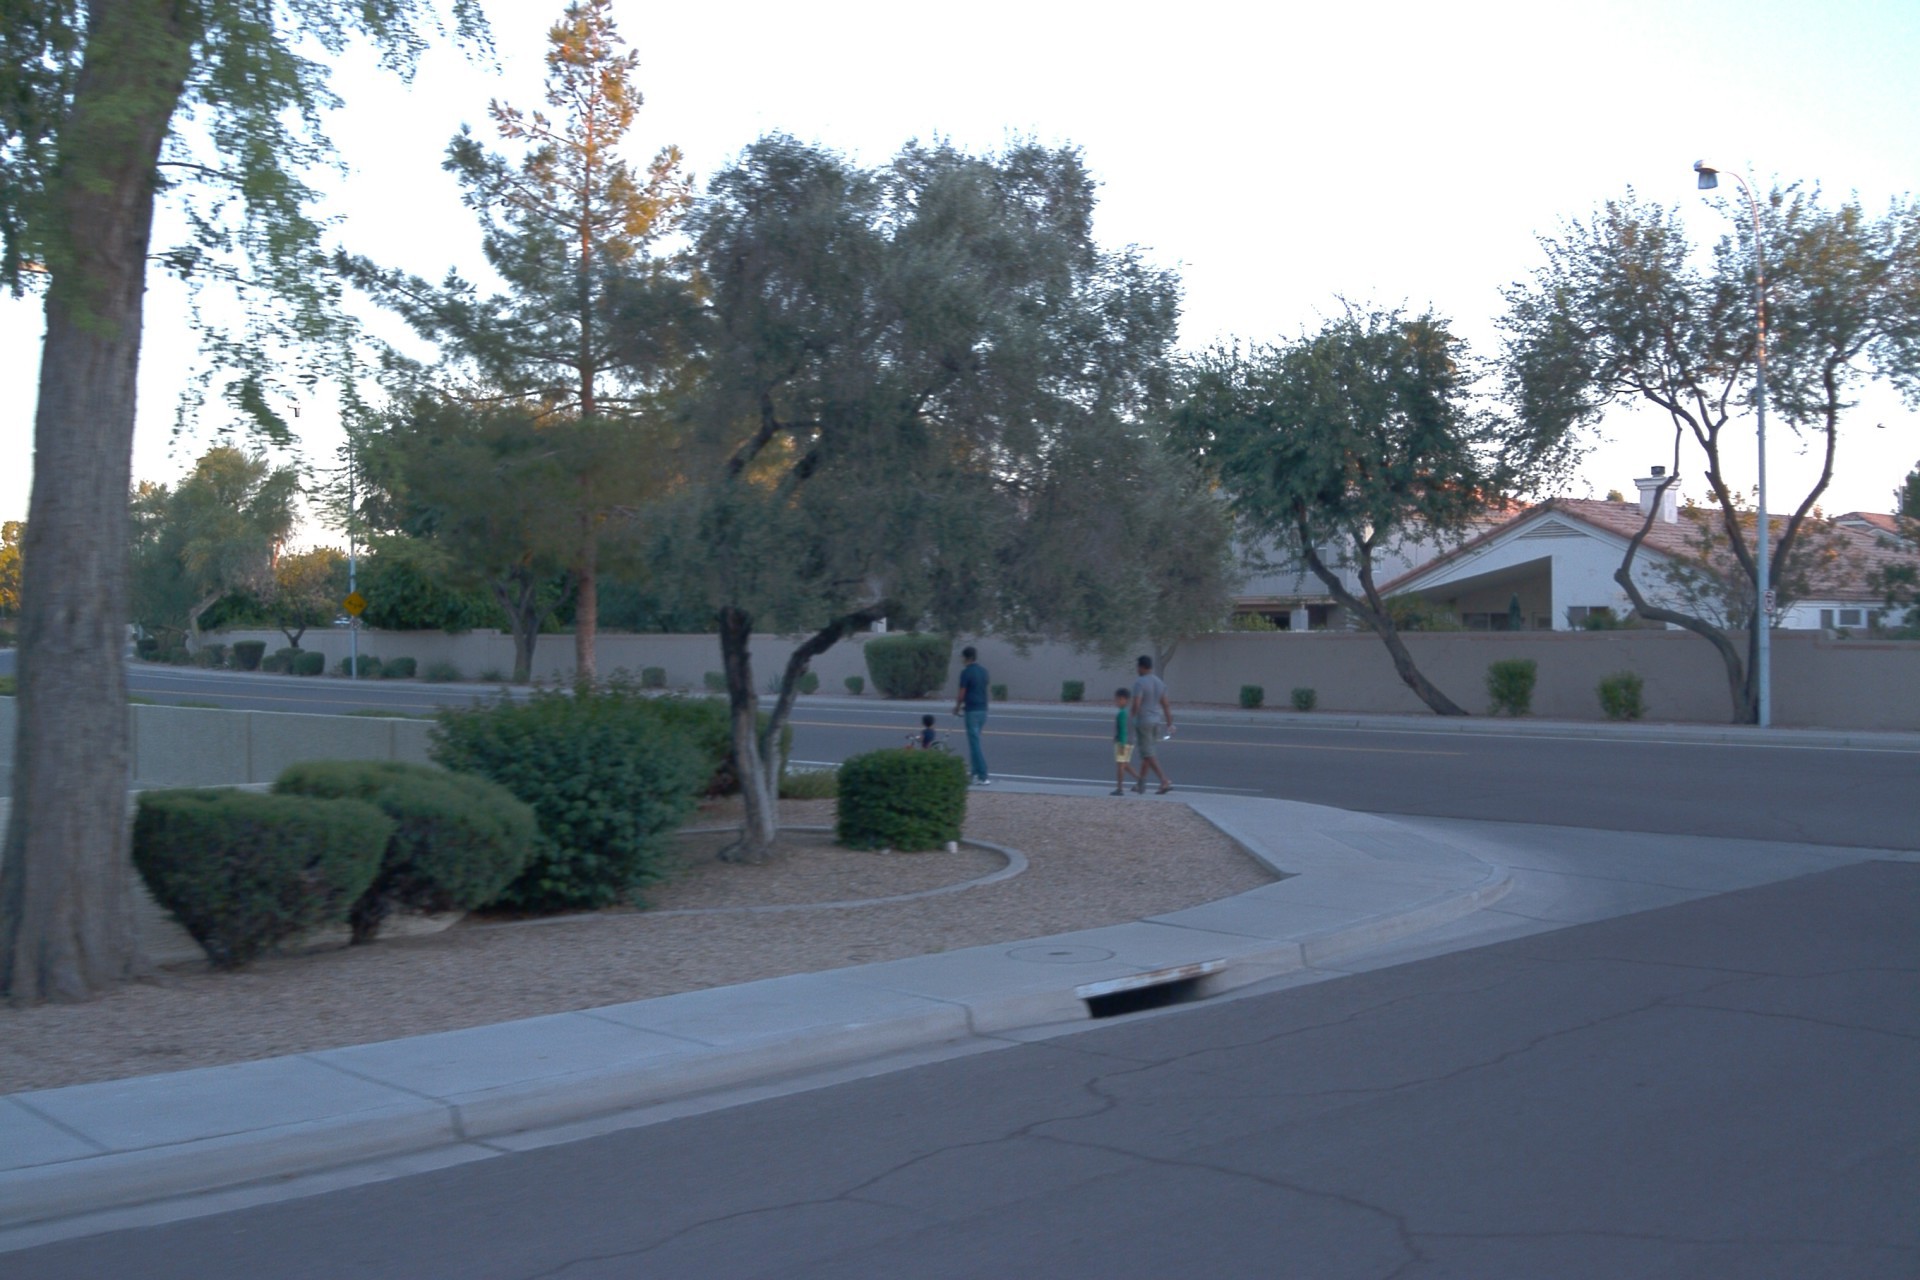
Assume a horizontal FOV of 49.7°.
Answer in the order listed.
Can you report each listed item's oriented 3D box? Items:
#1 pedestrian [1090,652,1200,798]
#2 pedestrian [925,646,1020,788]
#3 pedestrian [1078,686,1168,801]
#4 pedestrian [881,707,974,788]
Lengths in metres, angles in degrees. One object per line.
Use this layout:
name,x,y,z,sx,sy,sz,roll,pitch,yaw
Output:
pedestrian,2.237,1.001,25.029,0.910,1.690,0.944,0,1,-44
pedestrian,0.159,0.980,26.808,0.923,1.780,0.781,1,1,40
pedestrian,1.920,1.207,24.416,0.748,1.300,0.742,0,1,-36
pedestrian,-0.431,1.404,27.267,1.055,0.980,0.634,1,1,41
